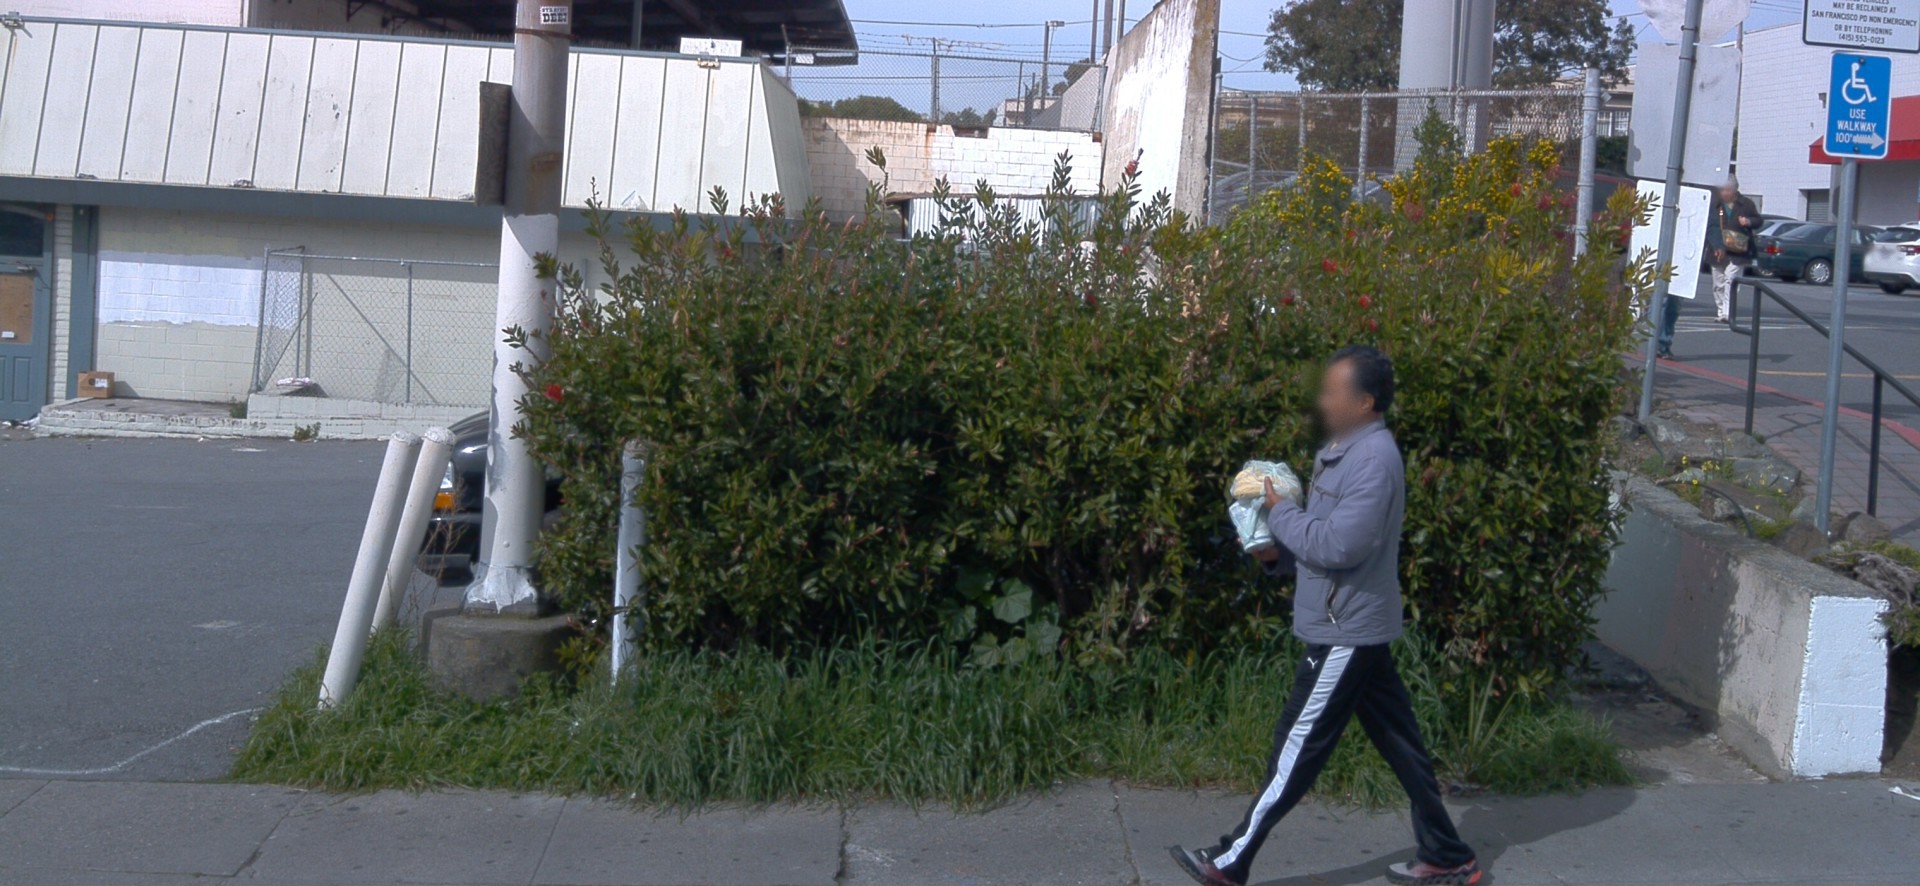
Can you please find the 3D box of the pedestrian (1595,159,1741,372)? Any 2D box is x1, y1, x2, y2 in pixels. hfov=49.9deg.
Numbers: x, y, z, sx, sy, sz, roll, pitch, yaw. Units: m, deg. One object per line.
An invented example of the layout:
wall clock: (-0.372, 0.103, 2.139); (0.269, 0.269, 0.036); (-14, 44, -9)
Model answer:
pedestrian: (5.728, -1.445, 16.754); (1.009, 1.670, 0.952); (0, 1, 12)

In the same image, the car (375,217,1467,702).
car: (-0.186, -0.038, 10.077); (4.799, 2.108, 2.006); (0, 3, -2)

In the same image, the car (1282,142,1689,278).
car: (6.844, -3.061, 27.244); (4.792, 1.717, 2.140); (0, 3, -3)

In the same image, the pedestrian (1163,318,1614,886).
pedestrian: (1.224, 0.520, 6.117); (1.076, 1.744, 0.945); (0, 1, -6)

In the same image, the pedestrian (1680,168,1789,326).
pedestrian: (8.475, -2.145, 22.588); (0.870, 1.685, 0.833); (1, 2, 41)
